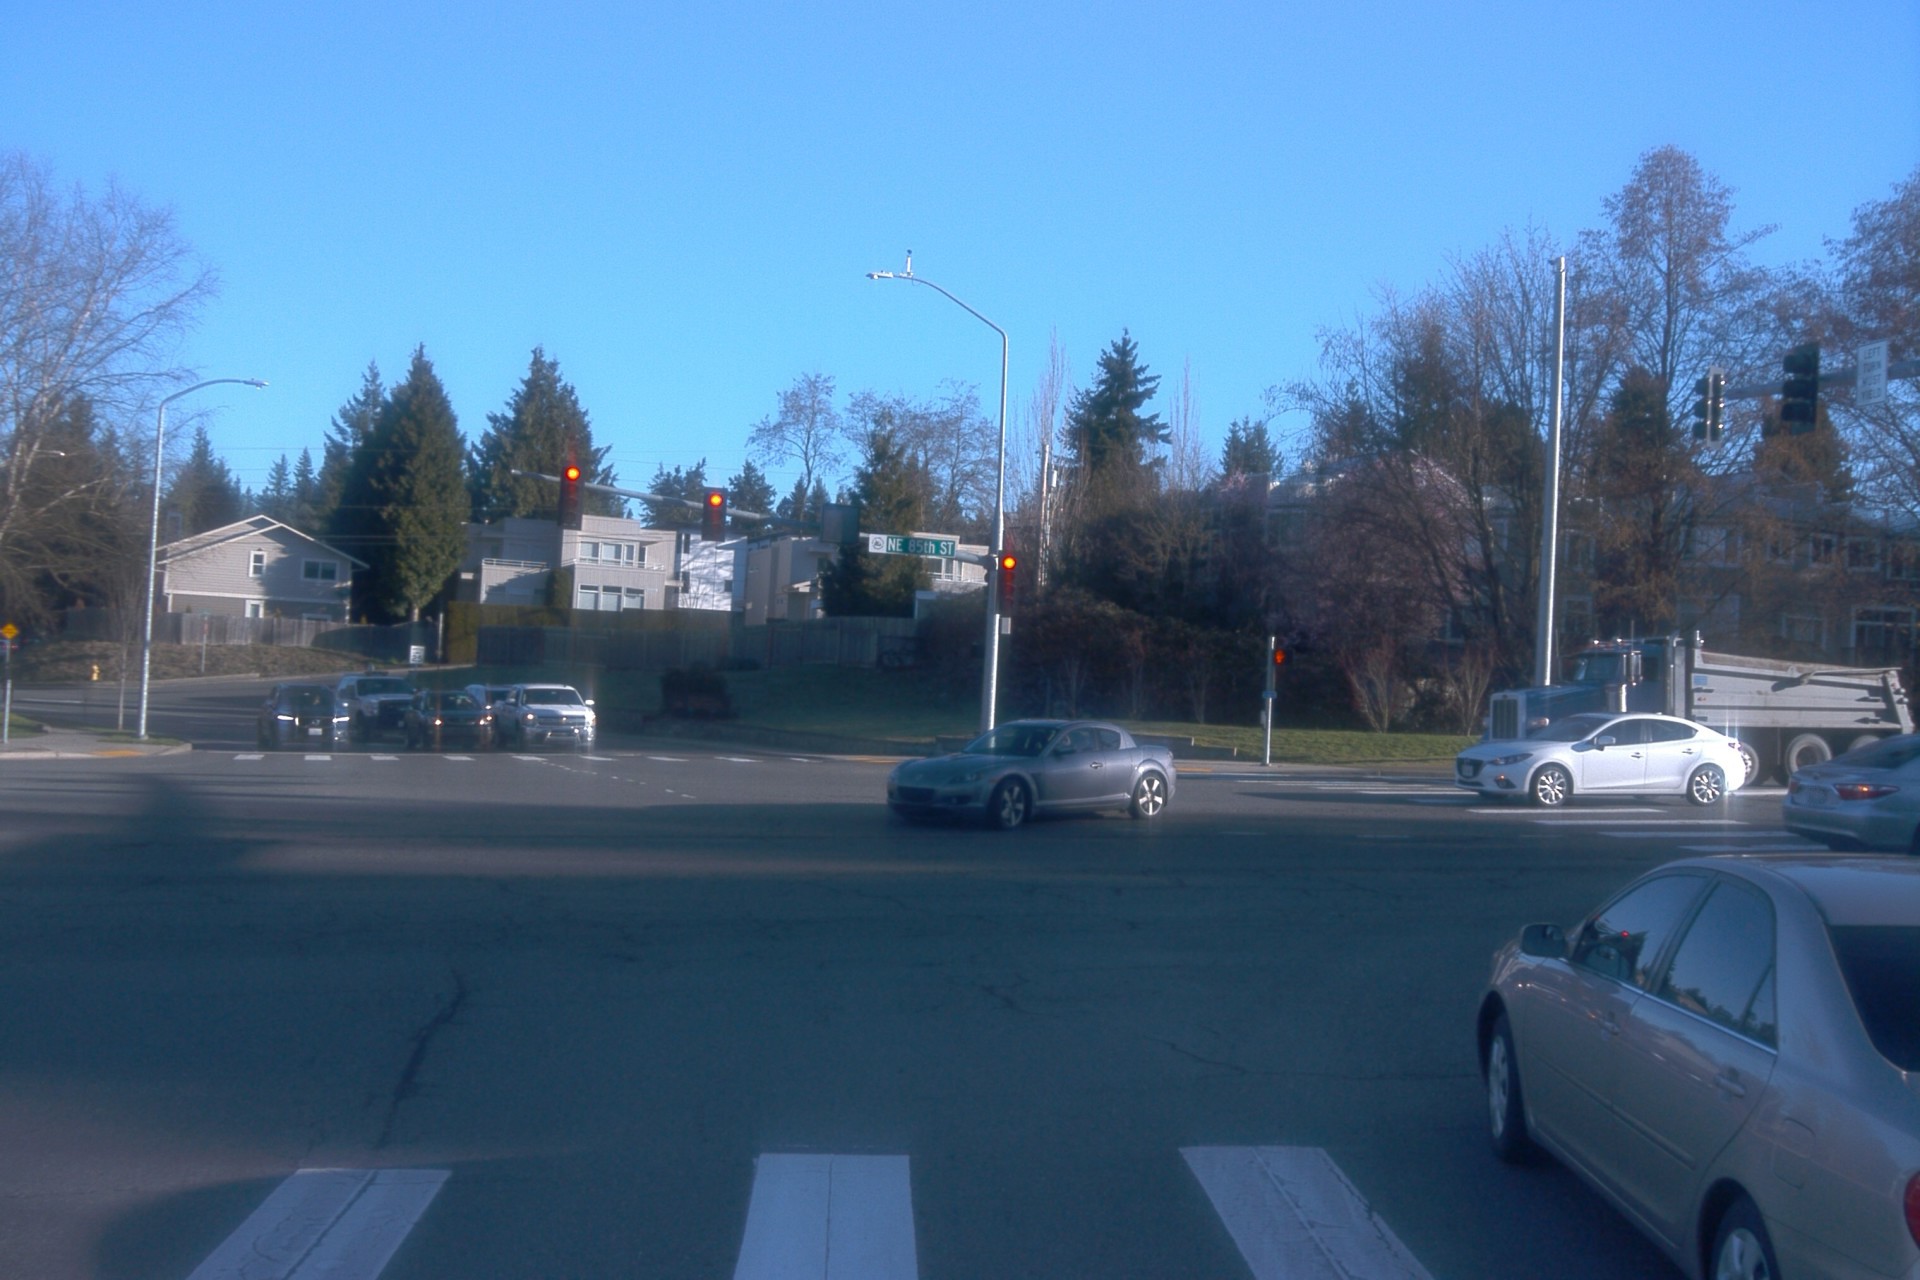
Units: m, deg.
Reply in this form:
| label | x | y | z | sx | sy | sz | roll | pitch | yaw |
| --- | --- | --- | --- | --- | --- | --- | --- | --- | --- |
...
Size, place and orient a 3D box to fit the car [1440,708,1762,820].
| label | x | y | z | sx | sy | sz | roll | pitch | yaw |
| --- | --- | --- | --- | --- | --- | --- | --- | --- | --- |
| car | 9.950 | 1.903 | 31.830 | 4.387 | 1.570 | 2.010 | 1 | 0 | -16 |

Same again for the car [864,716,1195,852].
| label | x | y | z | sx | sy | sz | roll | pitch | yaw |
| --- | --- | --- | --- | --- | --- | --- | --- | --- | --- |
| car | 0.970 | 1.788 | 26.360 | 1.814 | 1.450 | 4.305 | 1 | 0 | 44 |
